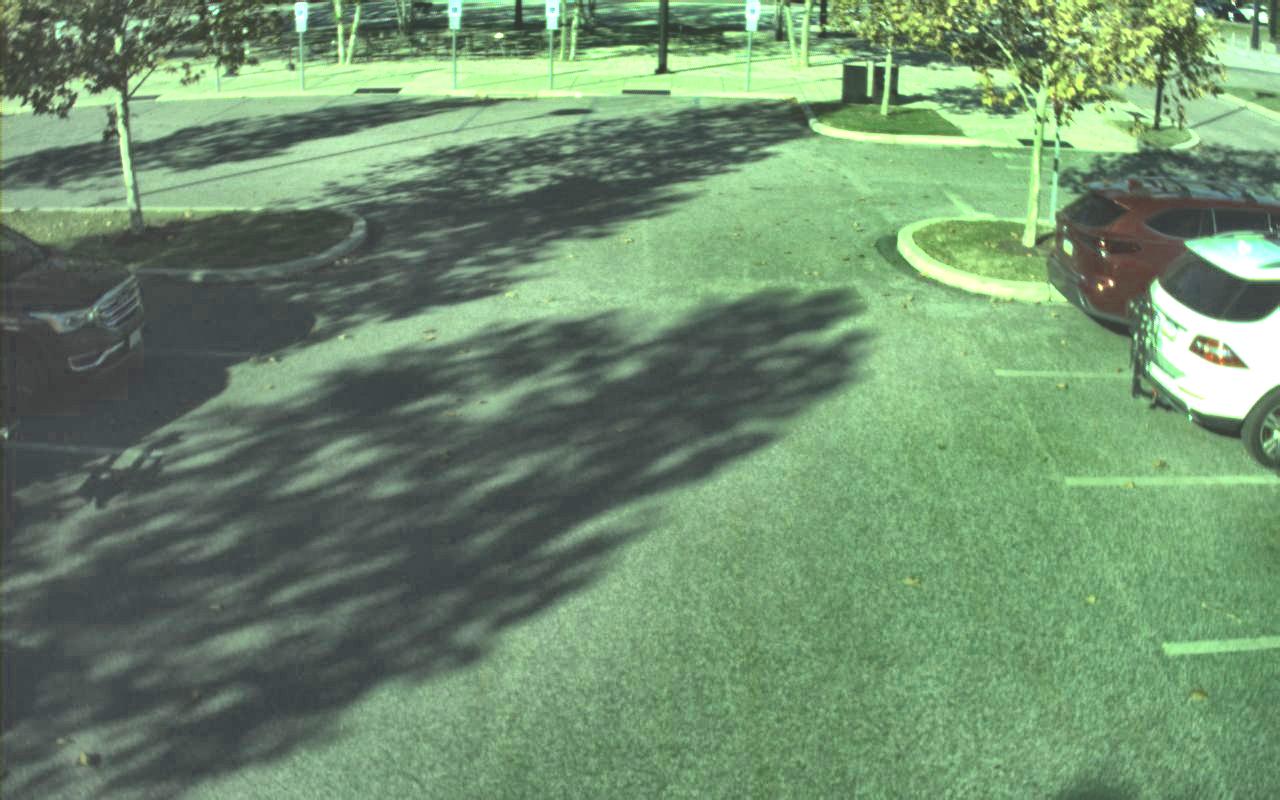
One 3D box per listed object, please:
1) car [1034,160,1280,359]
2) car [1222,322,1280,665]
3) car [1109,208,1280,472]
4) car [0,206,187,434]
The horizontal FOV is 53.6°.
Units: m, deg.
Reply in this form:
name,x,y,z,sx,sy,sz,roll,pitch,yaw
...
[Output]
name,x,y,z,sx,sy,sz,roll,pitch,yaw
car,6.660,-1.555,12.704,4.385,1.774,1.968,0,16,2
car,6.698,0.523,7.617,4.464,1.622,2.009,0,16,4
car,6.693,-0.636,10.122,4.509,1.819,2.006,-2,16,-3
car,-6.883,-0.884,11.053,4.519,1.628,1.995,3,17,15
